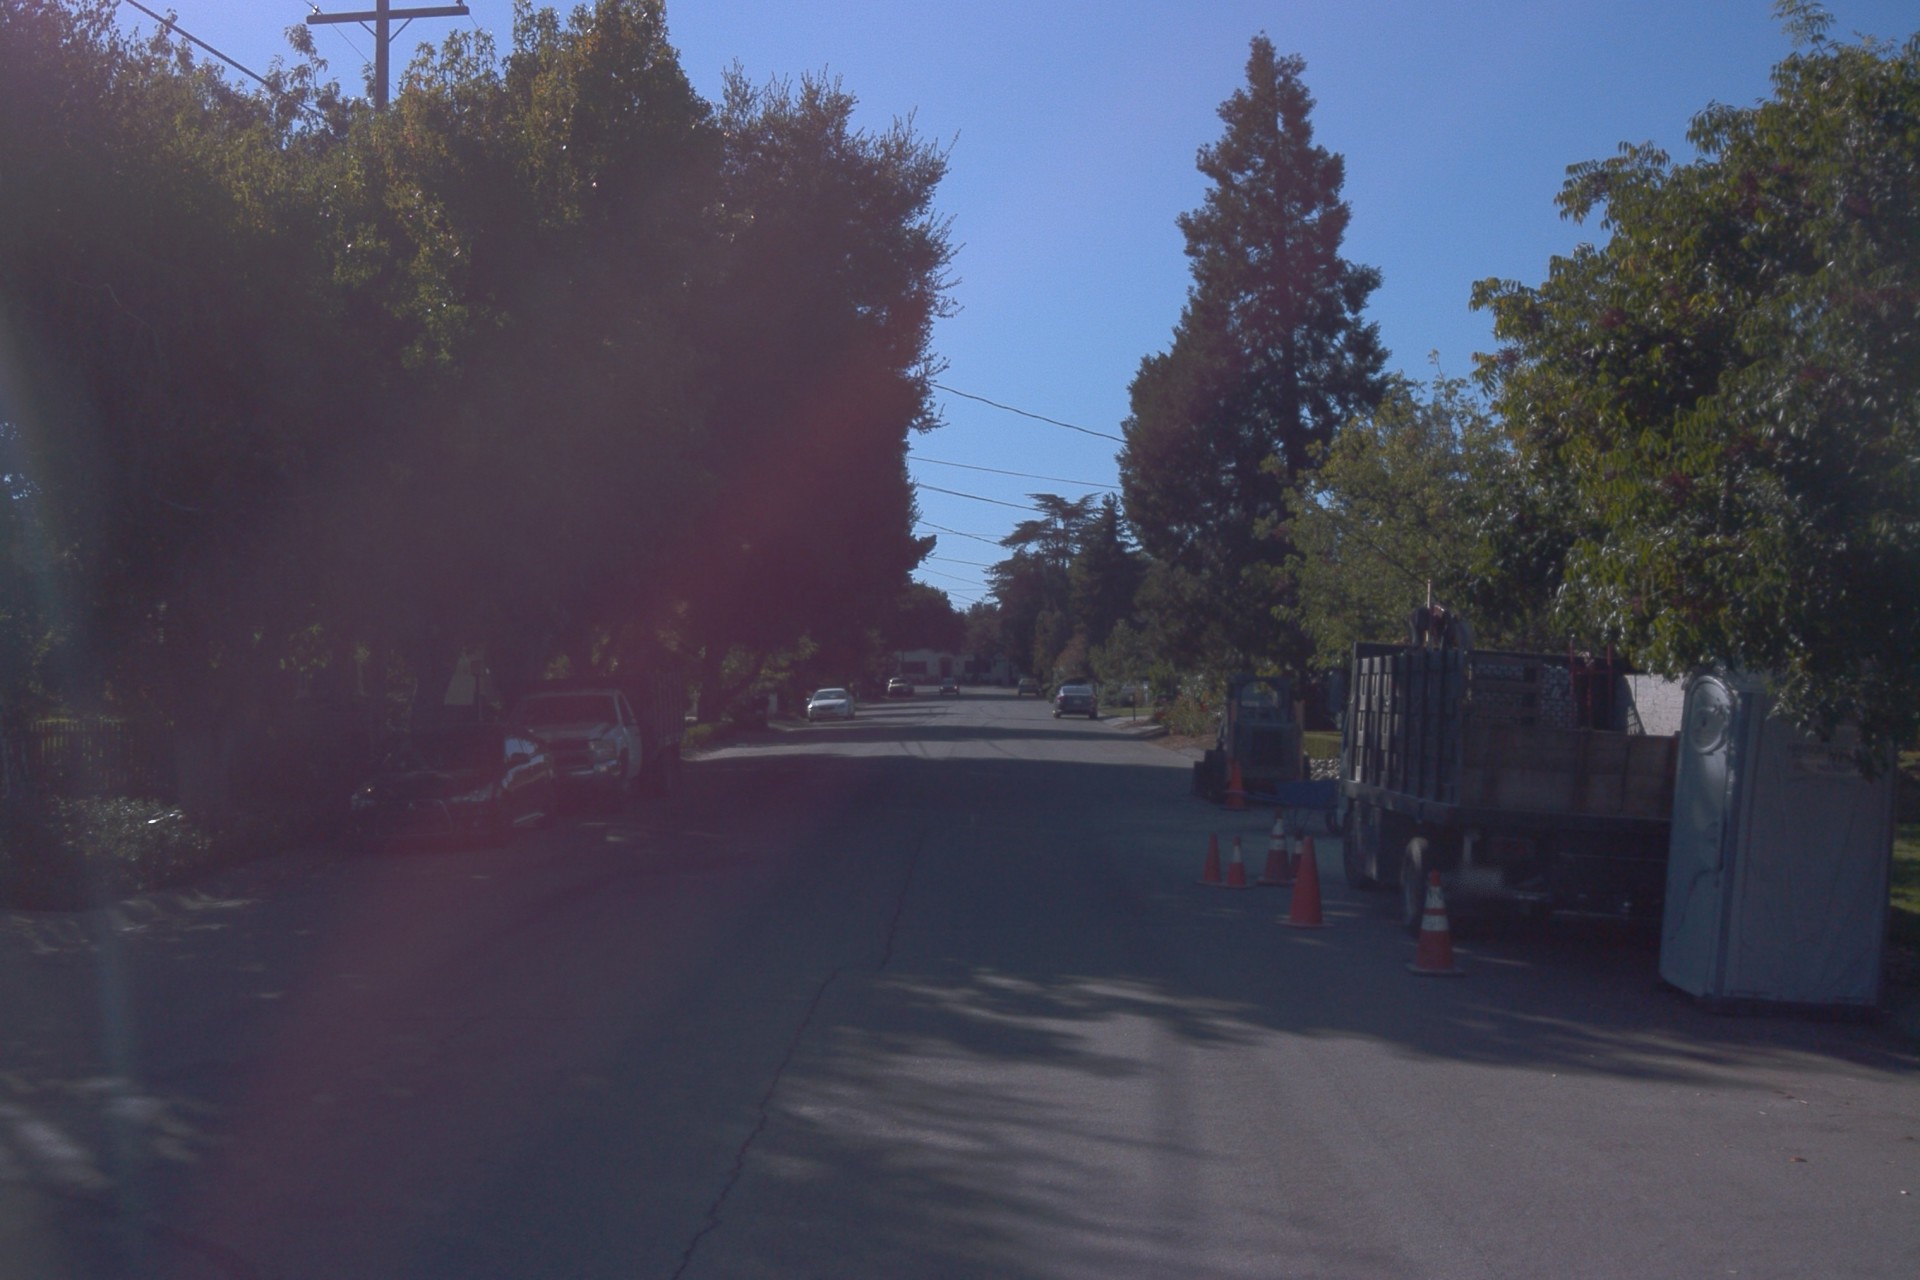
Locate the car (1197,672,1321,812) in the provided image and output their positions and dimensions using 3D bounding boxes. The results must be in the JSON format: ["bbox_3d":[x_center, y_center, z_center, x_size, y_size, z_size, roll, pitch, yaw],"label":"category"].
[{"bbox_3d":[4.549,1.521,31.804,1.620,2.040,2.457,0,0,2],"label":"car"}]

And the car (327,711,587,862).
[{"bbox_3d":[-6.305,1.790,26.569,2.080,1.650,4.683,0,-1,2],"label":"car"}]

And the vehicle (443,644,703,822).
[{"bbox_3d":[-6.064,1.381,33.653,2.842,2.590,7.117,0,-1,0],"label":"vehicle"}]

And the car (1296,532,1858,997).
[{"bbox_3d":[4.603,0.847,17.013,2.776,3.050,6.750,0,-1,2],"label":"car"}]
